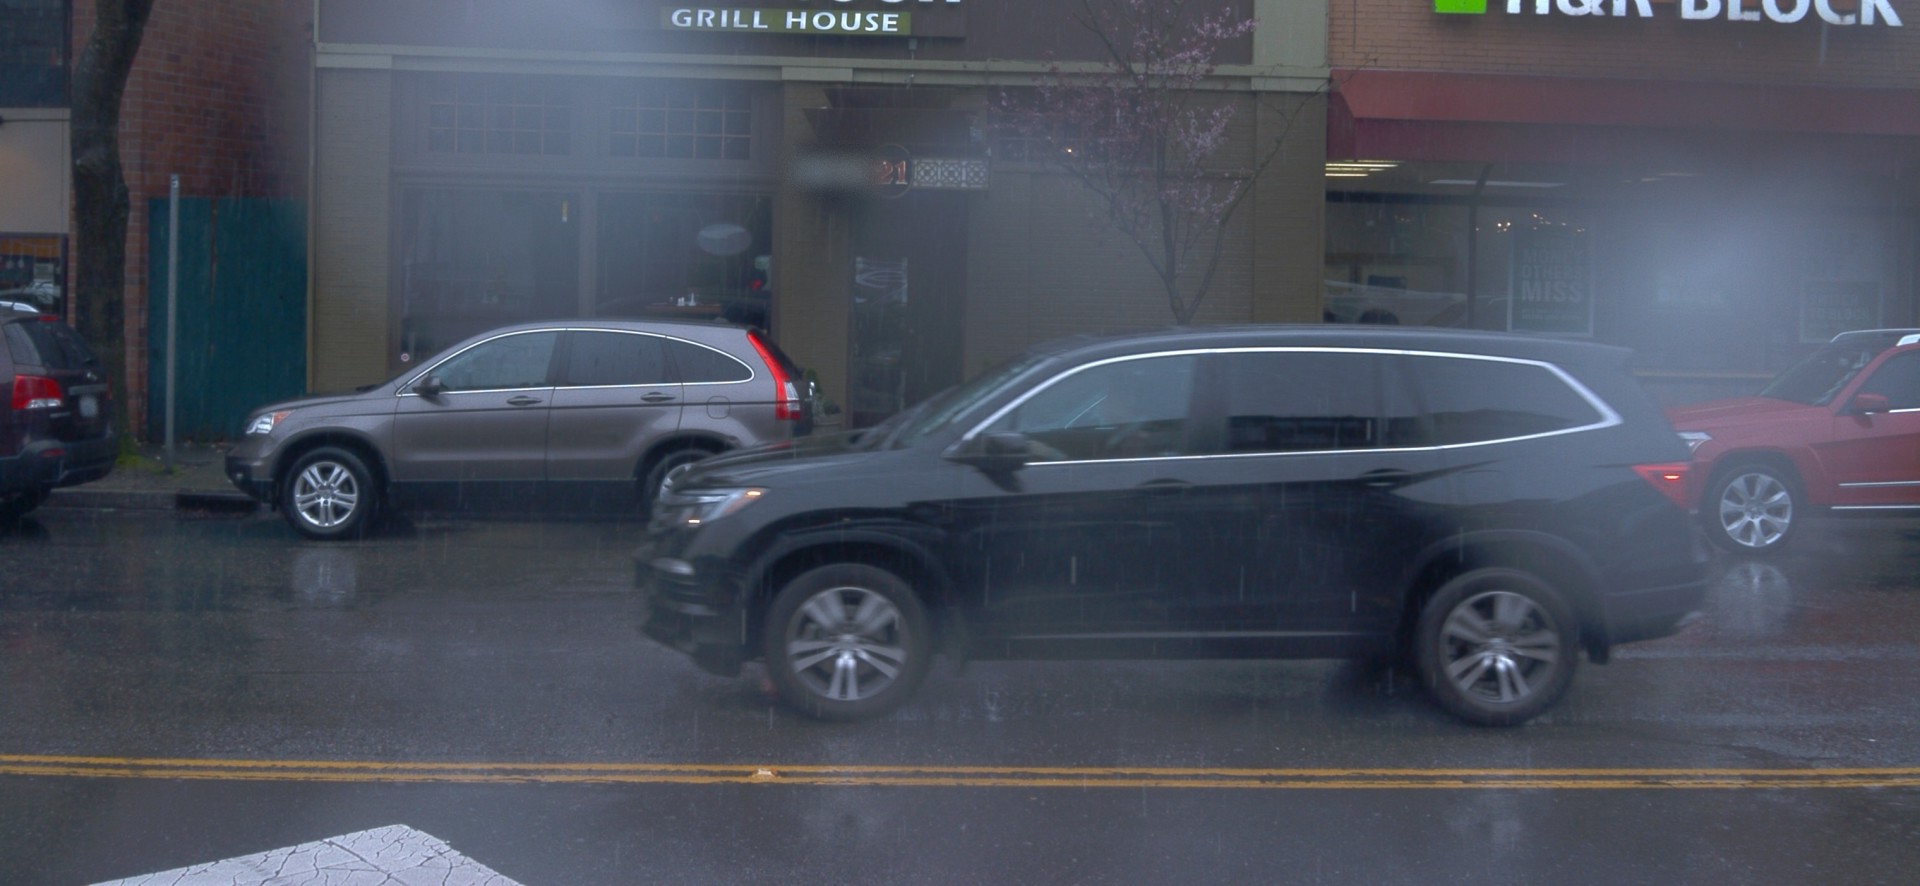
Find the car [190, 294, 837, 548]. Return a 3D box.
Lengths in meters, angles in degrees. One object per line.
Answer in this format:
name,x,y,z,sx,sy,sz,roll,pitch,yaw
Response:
car,-3.281,-0.216,15.797,4.605,1.724,1.918,0,4,-5

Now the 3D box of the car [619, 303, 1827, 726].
car,1.113,0.250,9.849,5.201,1.684,2.088,0,5,-3
